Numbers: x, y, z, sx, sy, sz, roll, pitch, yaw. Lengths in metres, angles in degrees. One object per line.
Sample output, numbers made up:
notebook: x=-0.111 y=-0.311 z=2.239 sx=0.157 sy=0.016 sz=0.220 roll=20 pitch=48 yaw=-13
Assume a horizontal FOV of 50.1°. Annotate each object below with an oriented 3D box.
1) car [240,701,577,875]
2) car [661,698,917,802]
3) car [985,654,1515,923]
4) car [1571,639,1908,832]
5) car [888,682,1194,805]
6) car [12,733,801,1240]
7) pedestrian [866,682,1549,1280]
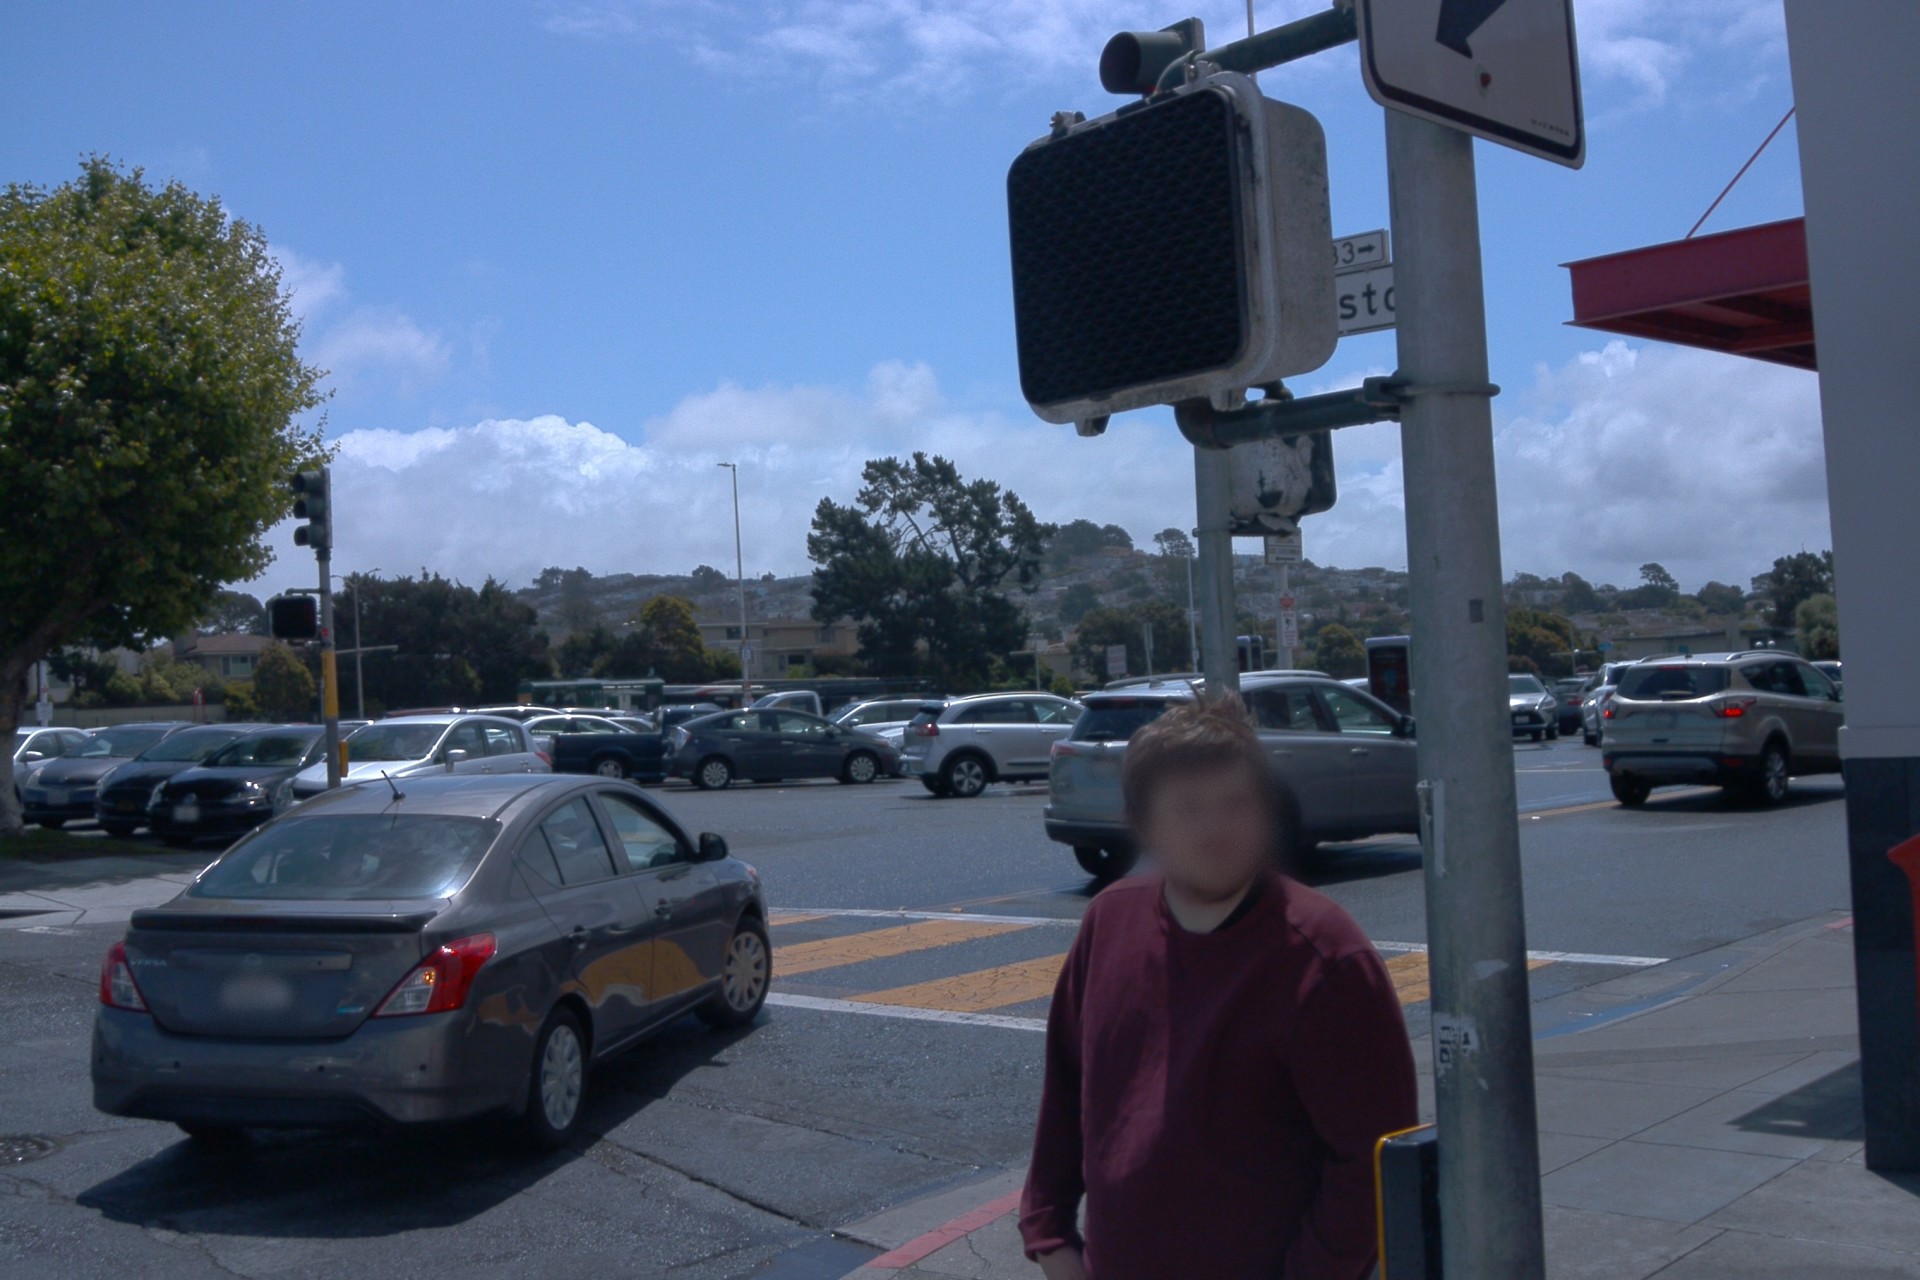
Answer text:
car: x=-6.438 y=1.669 z=24.550 sx=1.980 sy=1.700 sz=4.256 roll=0 pitch=1 yaw=16
car: x=-3.199 y=1.999 z=38.077 sx=4.435 sy=1.710 sz=2.058 roll=0 pitch=0 yaw=-14
car: x=2.567 y=1.111 z=17.501 sx=4.486 sy=1.900 sz=2.142 roll=-1 pitch=1 yaw=-44
car: x=8.999 y=0.991 z=23.556 sx=2.024 sy=1.960 sz=4.298 roll=0 pitch=1 yaw=45
car: x=1.224 y=1.556 z=31.705 sx=4.314 sy=1.710 sz=1.954 roll=0 pitch=0 yaw=-15
car: x=-2.246 y=1.353 z=9.684 sx=1.944 sy=1.580 sz=4.221 roll=0 pitch=1 yaw=11
pedestrian: x=0.366 y=1.032 z=3.114 sx=0.834 sy=1.910 sz=0.591 roll=0 pitch=0 yaw=41
